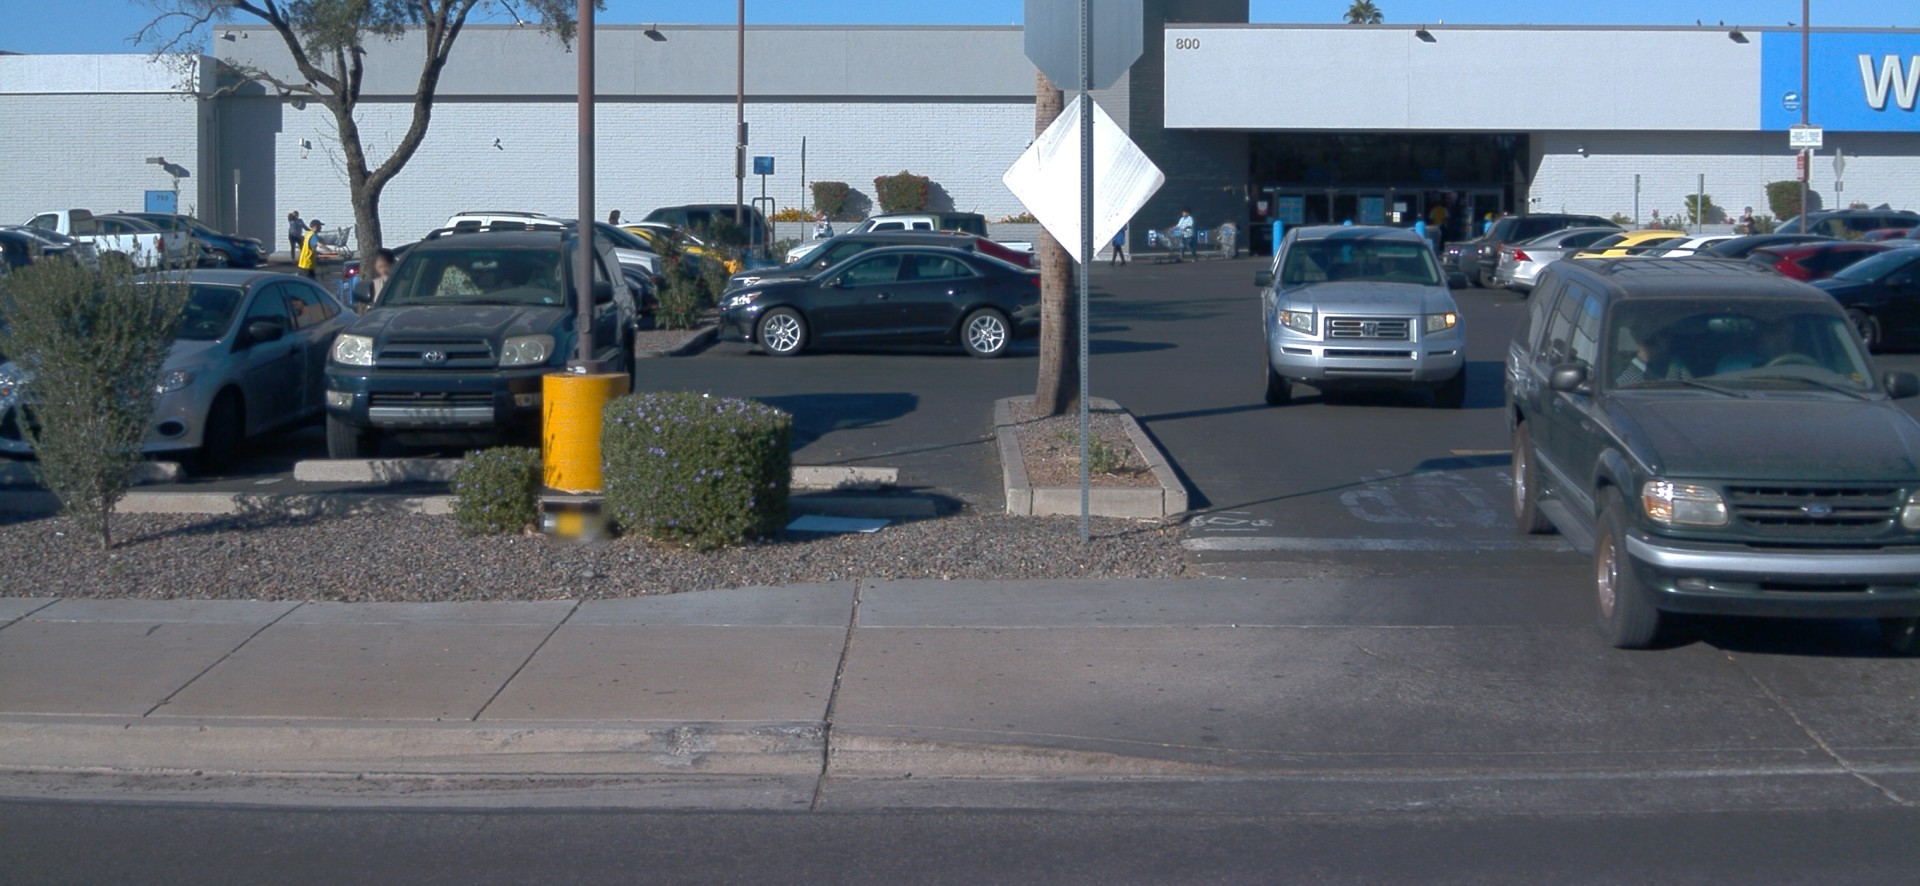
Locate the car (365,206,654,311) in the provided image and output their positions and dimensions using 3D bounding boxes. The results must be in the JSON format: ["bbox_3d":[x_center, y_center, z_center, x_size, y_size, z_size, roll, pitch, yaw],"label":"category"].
[{"bbox_3d":[-7.938,-3.297,36.861,4.629,1.808,2.039,0,3,3],"label":"car"}]

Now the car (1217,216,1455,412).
[{"bbox_3d":[3.797,-1.454,21.812,2.162,1.803,5.209,0,5,7],"label":"car"}]

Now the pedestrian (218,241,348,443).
[{"bbox_3d":[-5.759,-0.888,17.692,0.786,1.670,1.013,0,1,-1],"label":"pedestrian"}]

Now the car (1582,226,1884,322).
[{"bbox_3d":[13.487,-2.984,36.340,4.540,1.627,2.060,0,3,-5],"label":"car"}]

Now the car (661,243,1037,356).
[{"bbox_3d":[-1.425,-1.951,27.794,4.862,1.457,1.937,0,4,0],"label":"car"}]

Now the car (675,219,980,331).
[{"bbox_3d":[-1.987,-2.503,30.713,4.379,1.598,1.877,0,3,-7],"label":"car"}]

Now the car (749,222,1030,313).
[{"bbox_3d":[-1.359,-3.271,38.420,5.022,1.617,2.160,-1,4,-8],"label":"car"}]

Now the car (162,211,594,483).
[{"bbox_3d":[-4.416,-0.904,16.683,2.138,1.843,5.090,0,5,-1],"label":"car"}]
